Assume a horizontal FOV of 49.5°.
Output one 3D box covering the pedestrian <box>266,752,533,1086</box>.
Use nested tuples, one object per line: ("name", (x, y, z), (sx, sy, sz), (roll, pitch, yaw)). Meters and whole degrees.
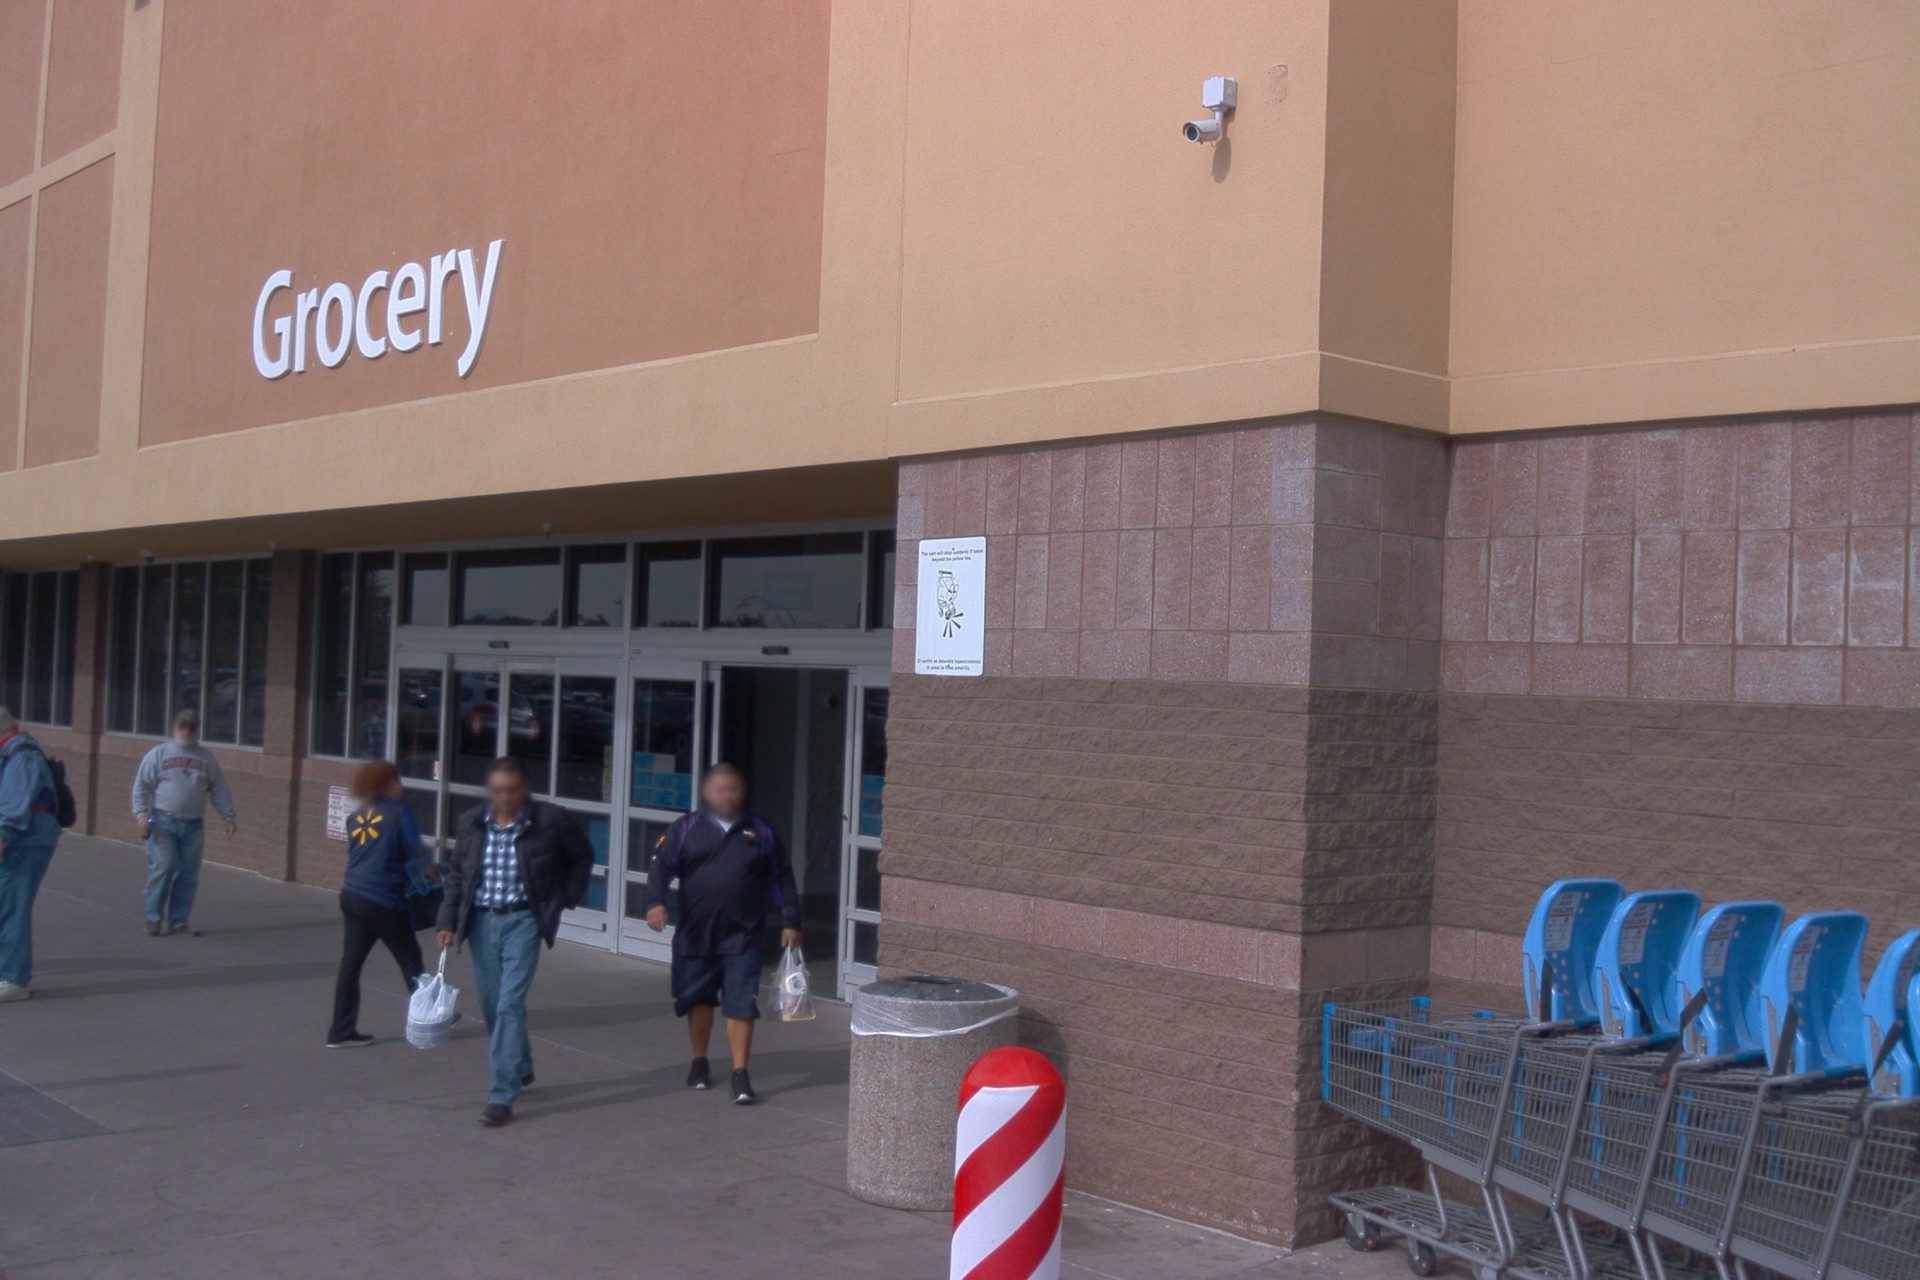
("pedestrian", (-3.031, 1.453, 11.262), (1.000, 1.630, 1.000), (1, 0, 45))

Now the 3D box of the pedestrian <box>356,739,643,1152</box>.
("pedestrian", (-2.122, 1.373, 9.729), (1.000, 1.760, 1.000), (1, 0, 8))

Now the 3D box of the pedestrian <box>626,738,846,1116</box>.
("pedestrian", (-1.138, 1.375, 10.357), (1.009, 1.720, 1.094), (1, 0, -9))

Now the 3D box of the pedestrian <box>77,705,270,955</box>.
("pedestrian", (-5.744, 1.345, 15.211), (1.000, 1.710, 1.000), (1, 0, -42))
